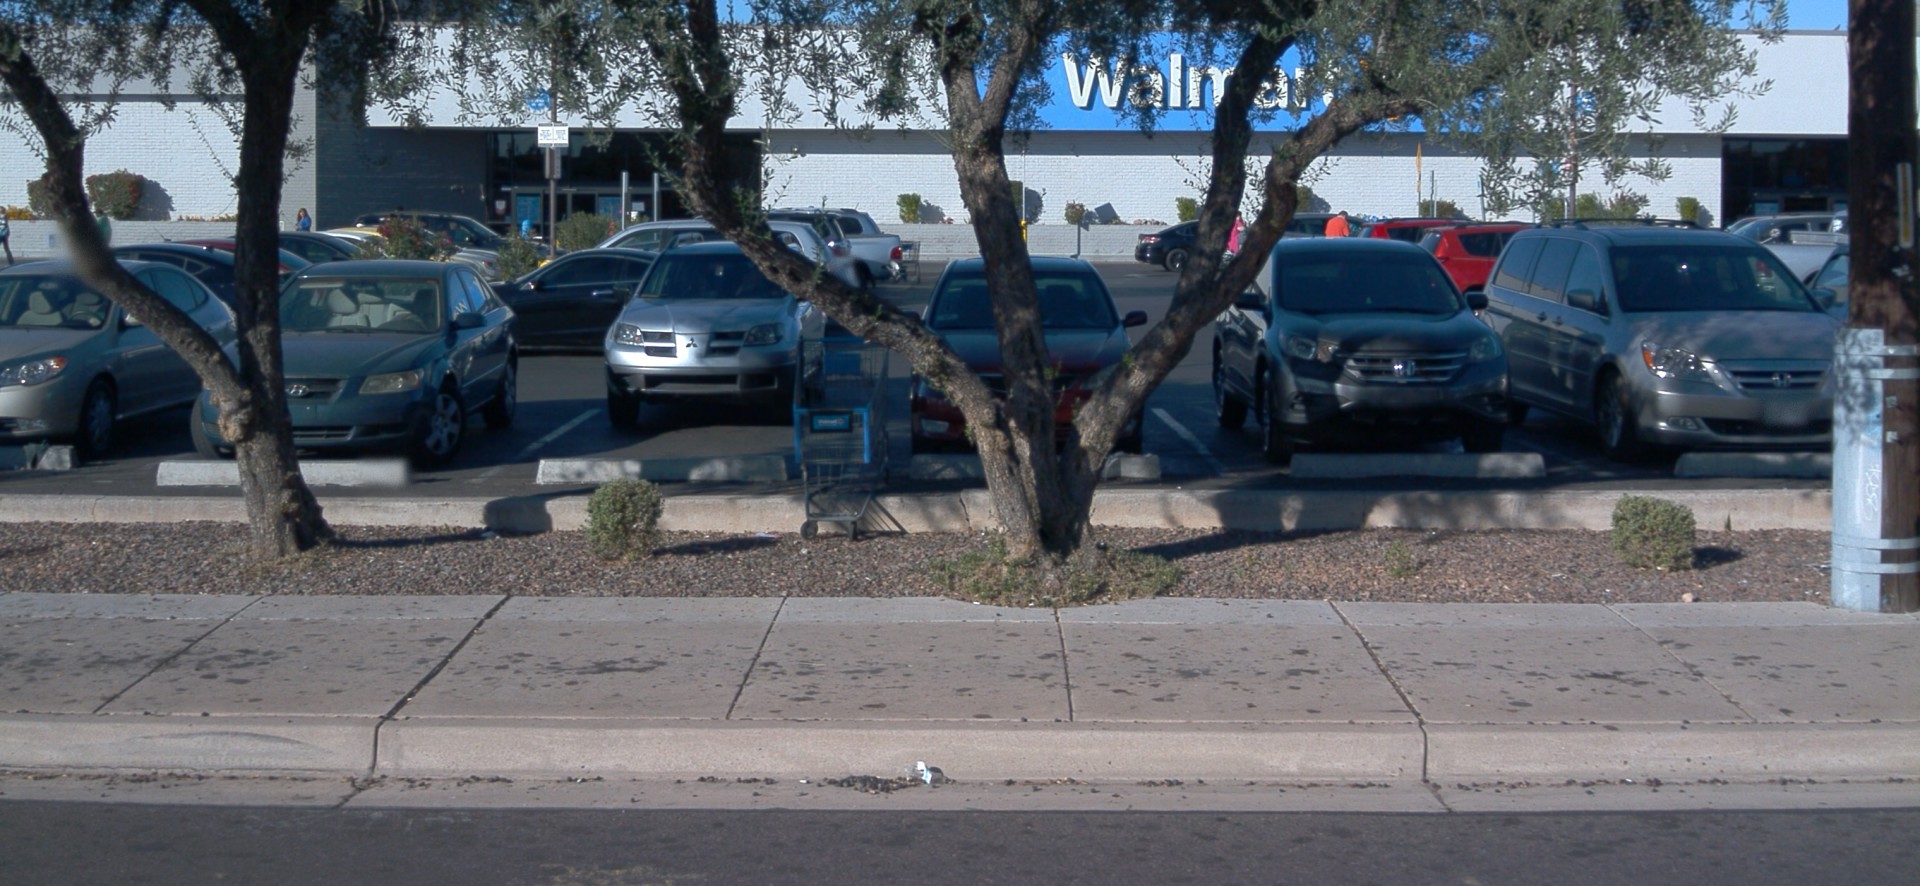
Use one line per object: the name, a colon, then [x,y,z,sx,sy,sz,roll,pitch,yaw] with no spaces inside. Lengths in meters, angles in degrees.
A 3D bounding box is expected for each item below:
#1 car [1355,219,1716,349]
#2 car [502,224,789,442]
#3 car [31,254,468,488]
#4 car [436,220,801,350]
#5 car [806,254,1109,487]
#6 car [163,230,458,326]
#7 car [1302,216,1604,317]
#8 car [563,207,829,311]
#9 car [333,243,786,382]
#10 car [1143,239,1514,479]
car: [8.486,-2.390,30.896,4.834,1.857,2.114,0,3,0]
car: [-2.776,-1.120,19.290,1.920,1.794,4.301,0,5,1]
car: [-5.445,-0.718,16.648,2.055,1.564,4.835,0,5,-3]
car: [-4.895,-2.342,30.387,5.053,1.817,2.168,0,3,-4]
car: [0.015,-0.719,16.628,2.065,1.544,4.984,0,5,1]
car: [-11.264,-2.904,36.233,4.540,1.627,2.060,0,3,-4]
car: [8.615,-3.123,36.533,4.838,1.727,2.173,0,3,0]
car: [-4.874,-3.455,38.829,4.814,1.887,2.132,0,3,-5]
car: [-5.154,-1.755,27.356,5.524,1.747,2.275,0,3,-1]
car: [2.738,-0.811,16.605,2.016,1.634,4.857,0,5,-1]
